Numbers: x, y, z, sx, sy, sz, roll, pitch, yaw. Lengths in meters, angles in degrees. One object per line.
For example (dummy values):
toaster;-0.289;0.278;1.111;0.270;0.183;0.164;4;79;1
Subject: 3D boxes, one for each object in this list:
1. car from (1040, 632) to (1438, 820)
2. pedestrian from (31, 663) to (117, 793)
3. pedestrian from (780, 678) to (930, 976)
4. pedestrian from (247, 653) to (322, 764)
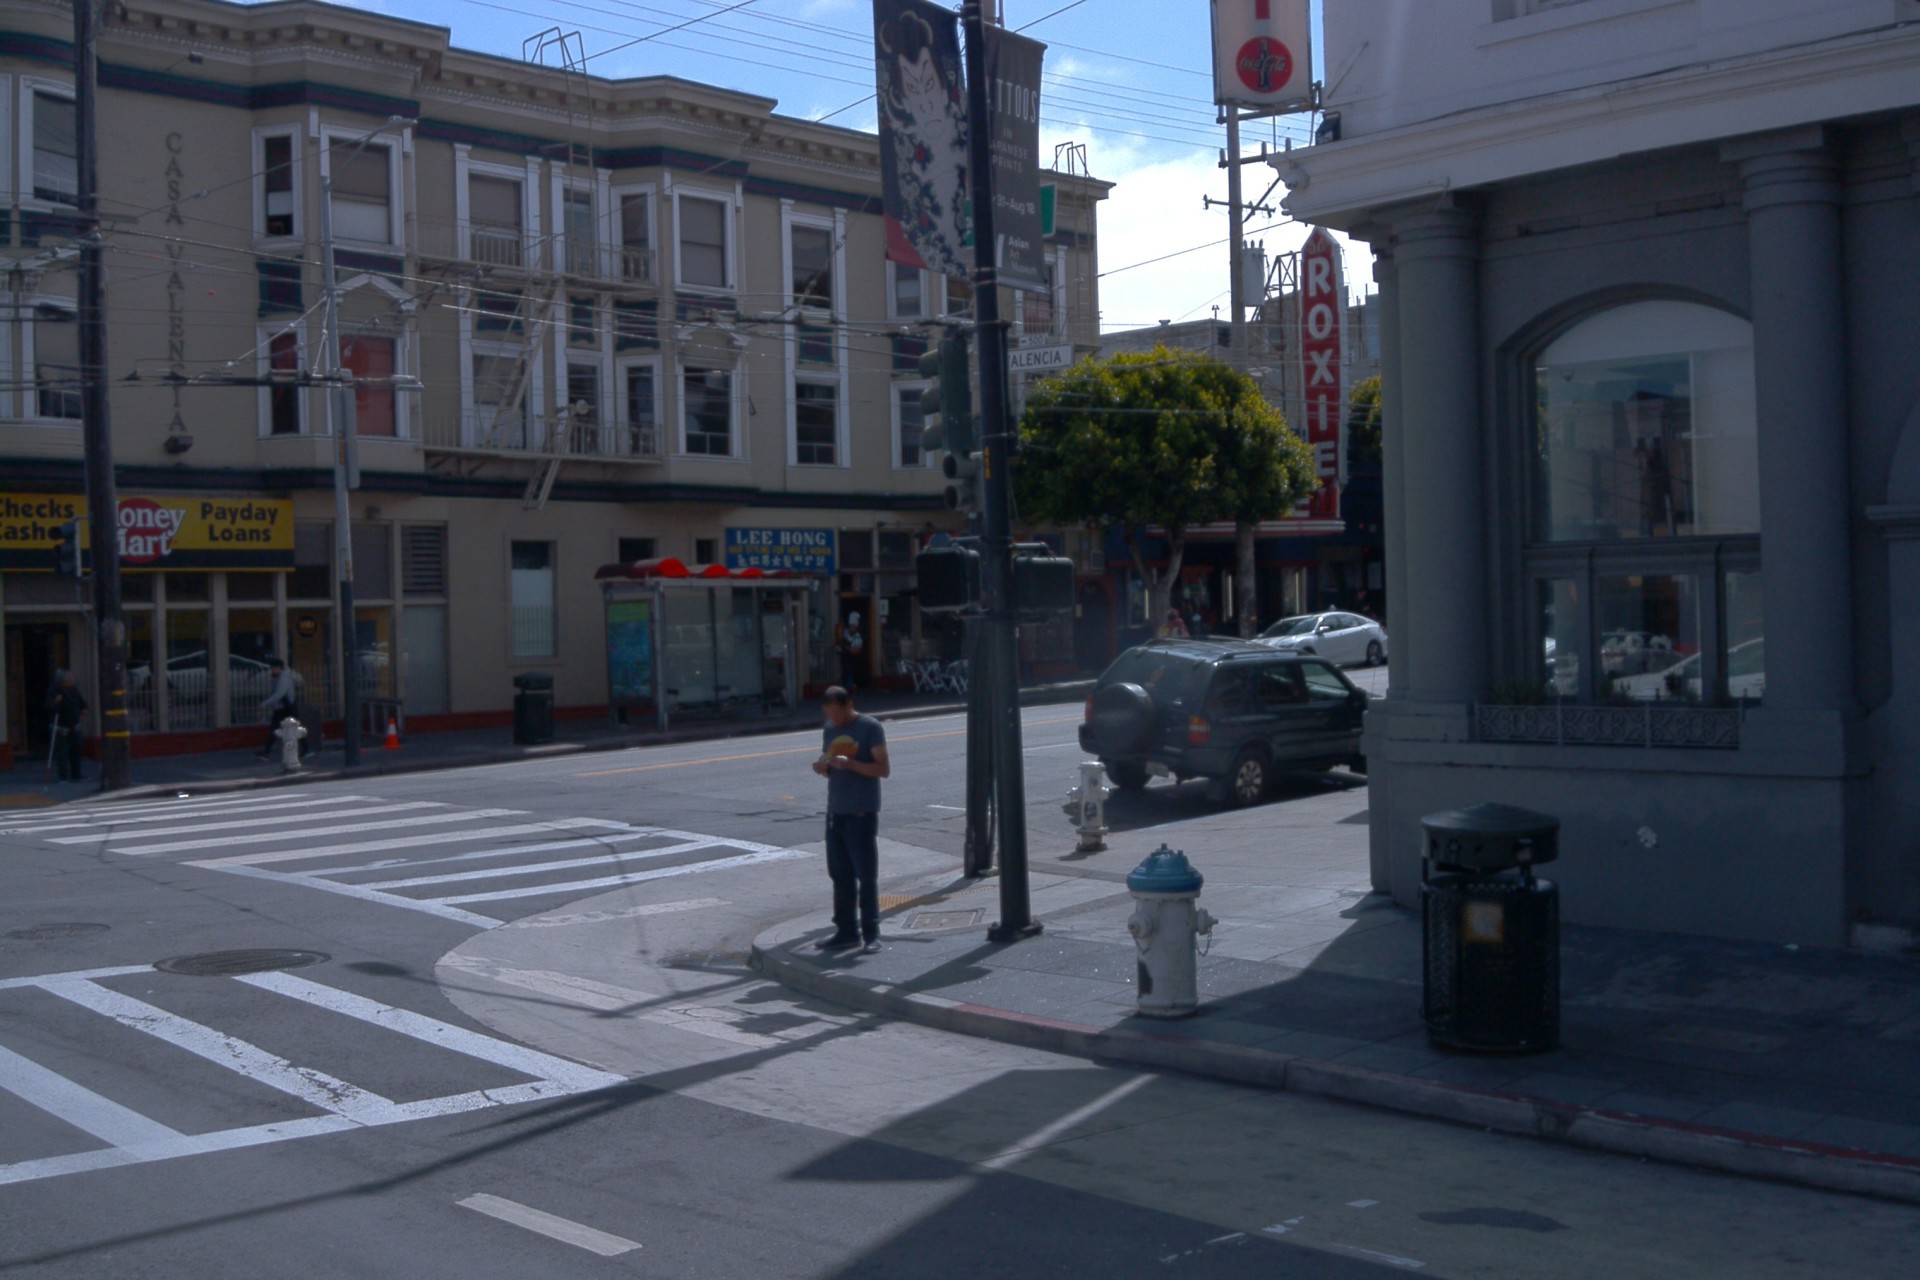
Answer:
car;3.247;0.867;23.239;2.130;1.870;4.629;0;1;44
pedestrian;-12.796;1.240;29.685;0.995;1.790;1.335;0;0;-29
pedestrian;-0.700;1.209;13.672;0.690;1.880;0.721;0;0;-43
pedestrian;-10.807;1.076;32.885;0.962;1.720;0.919;0;0;-29
